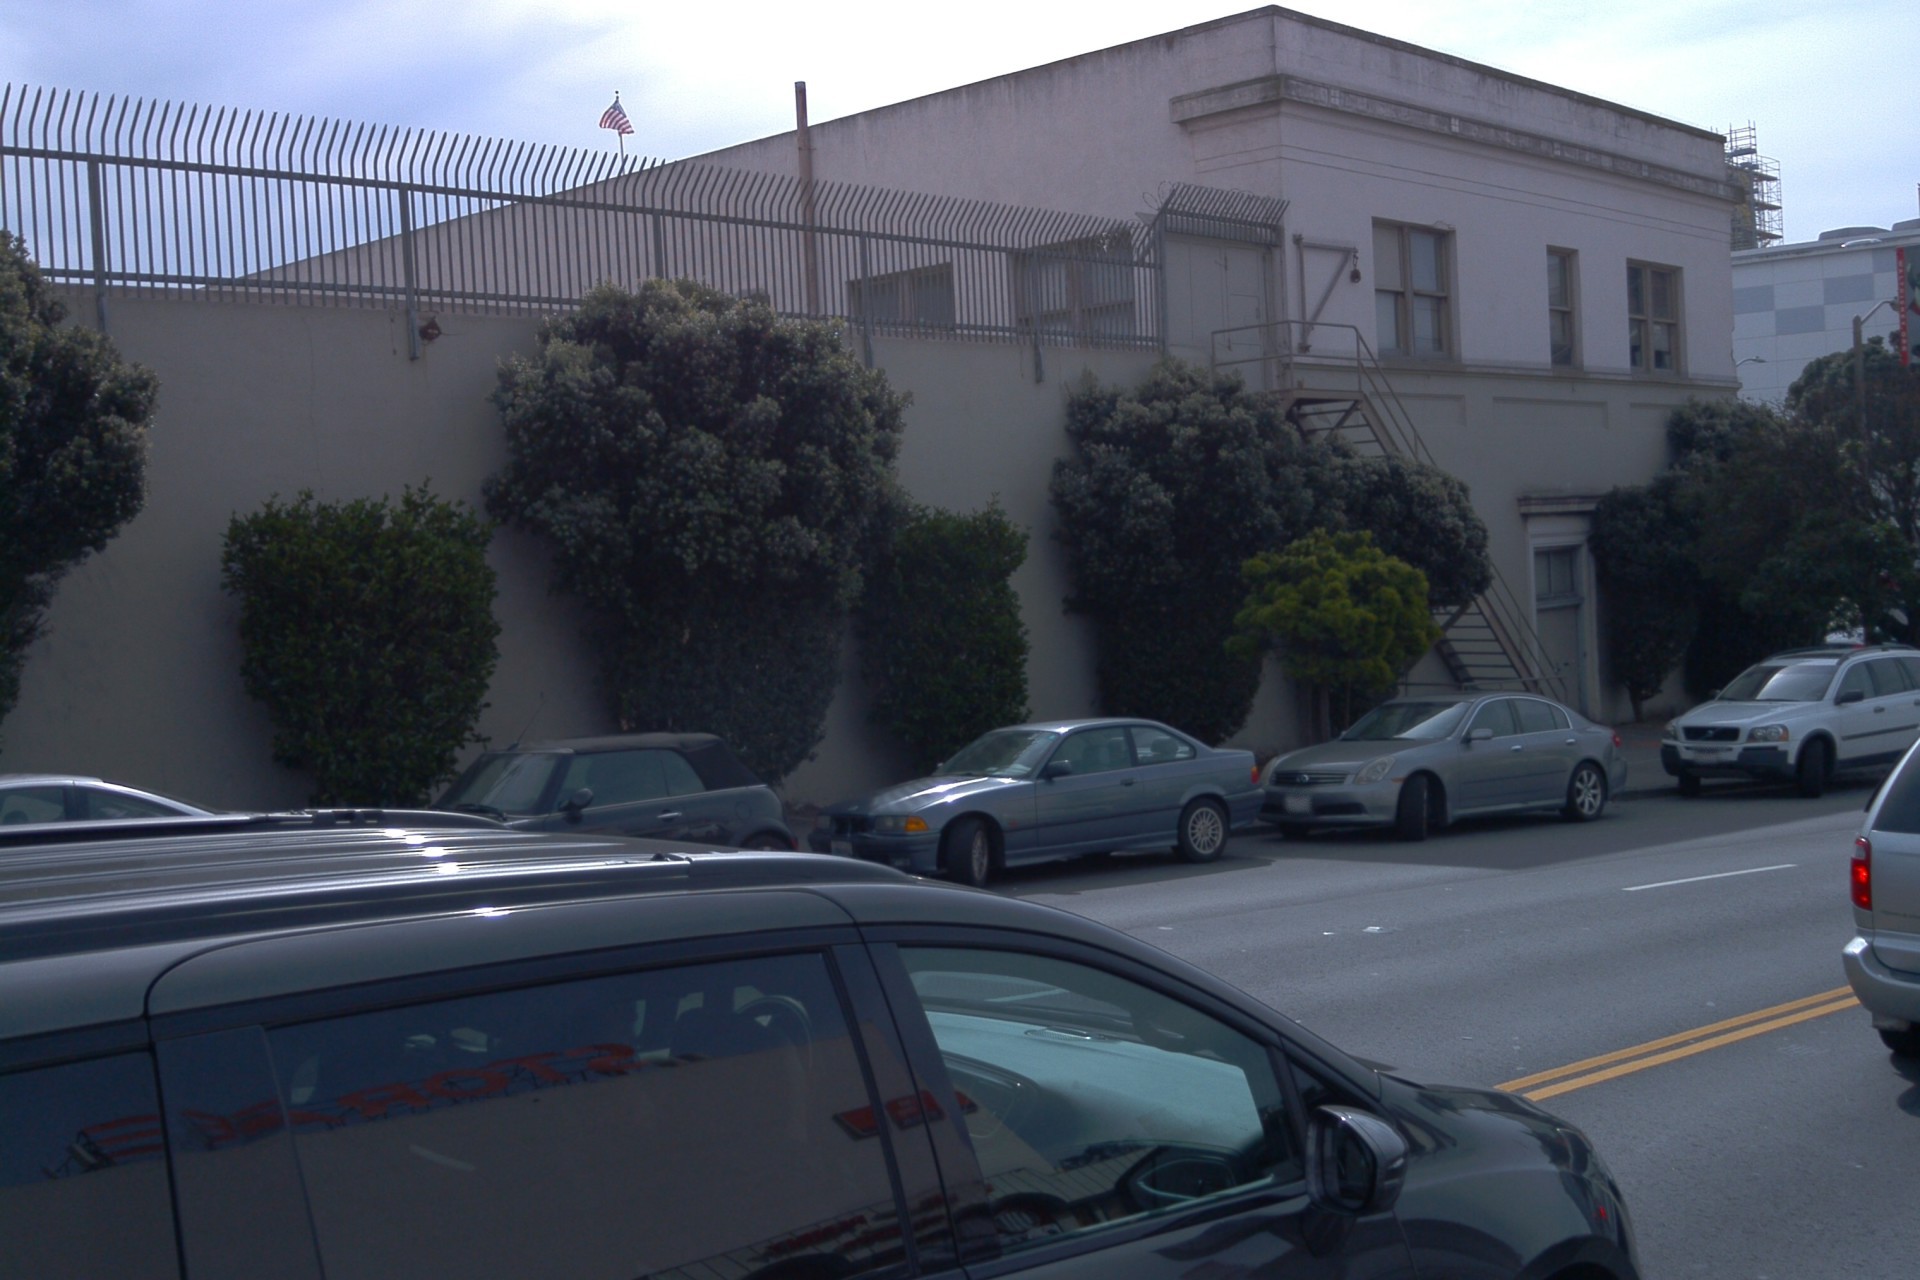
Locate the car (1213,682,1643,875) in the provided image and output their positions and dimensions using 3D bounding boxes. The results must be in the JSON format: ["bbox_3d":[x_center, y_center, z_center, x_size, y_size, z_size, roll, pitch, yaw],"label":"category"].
[{"bbox_3d":[5.011,1.356,21.683,4.687,1.660,2.019,-1,1,-41],"label":"car"}]

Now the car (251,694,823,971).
[{"bbox_3d":[-2.988,1.275,15.029,1.796,1.600,3.729,1,1,44],"label":"car"}]

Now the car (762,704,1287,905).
[{"bbox_3d":[0.656,1.366,18.438,4.448,1.390,2.035,-1,1,-39],"label":"car"}]
